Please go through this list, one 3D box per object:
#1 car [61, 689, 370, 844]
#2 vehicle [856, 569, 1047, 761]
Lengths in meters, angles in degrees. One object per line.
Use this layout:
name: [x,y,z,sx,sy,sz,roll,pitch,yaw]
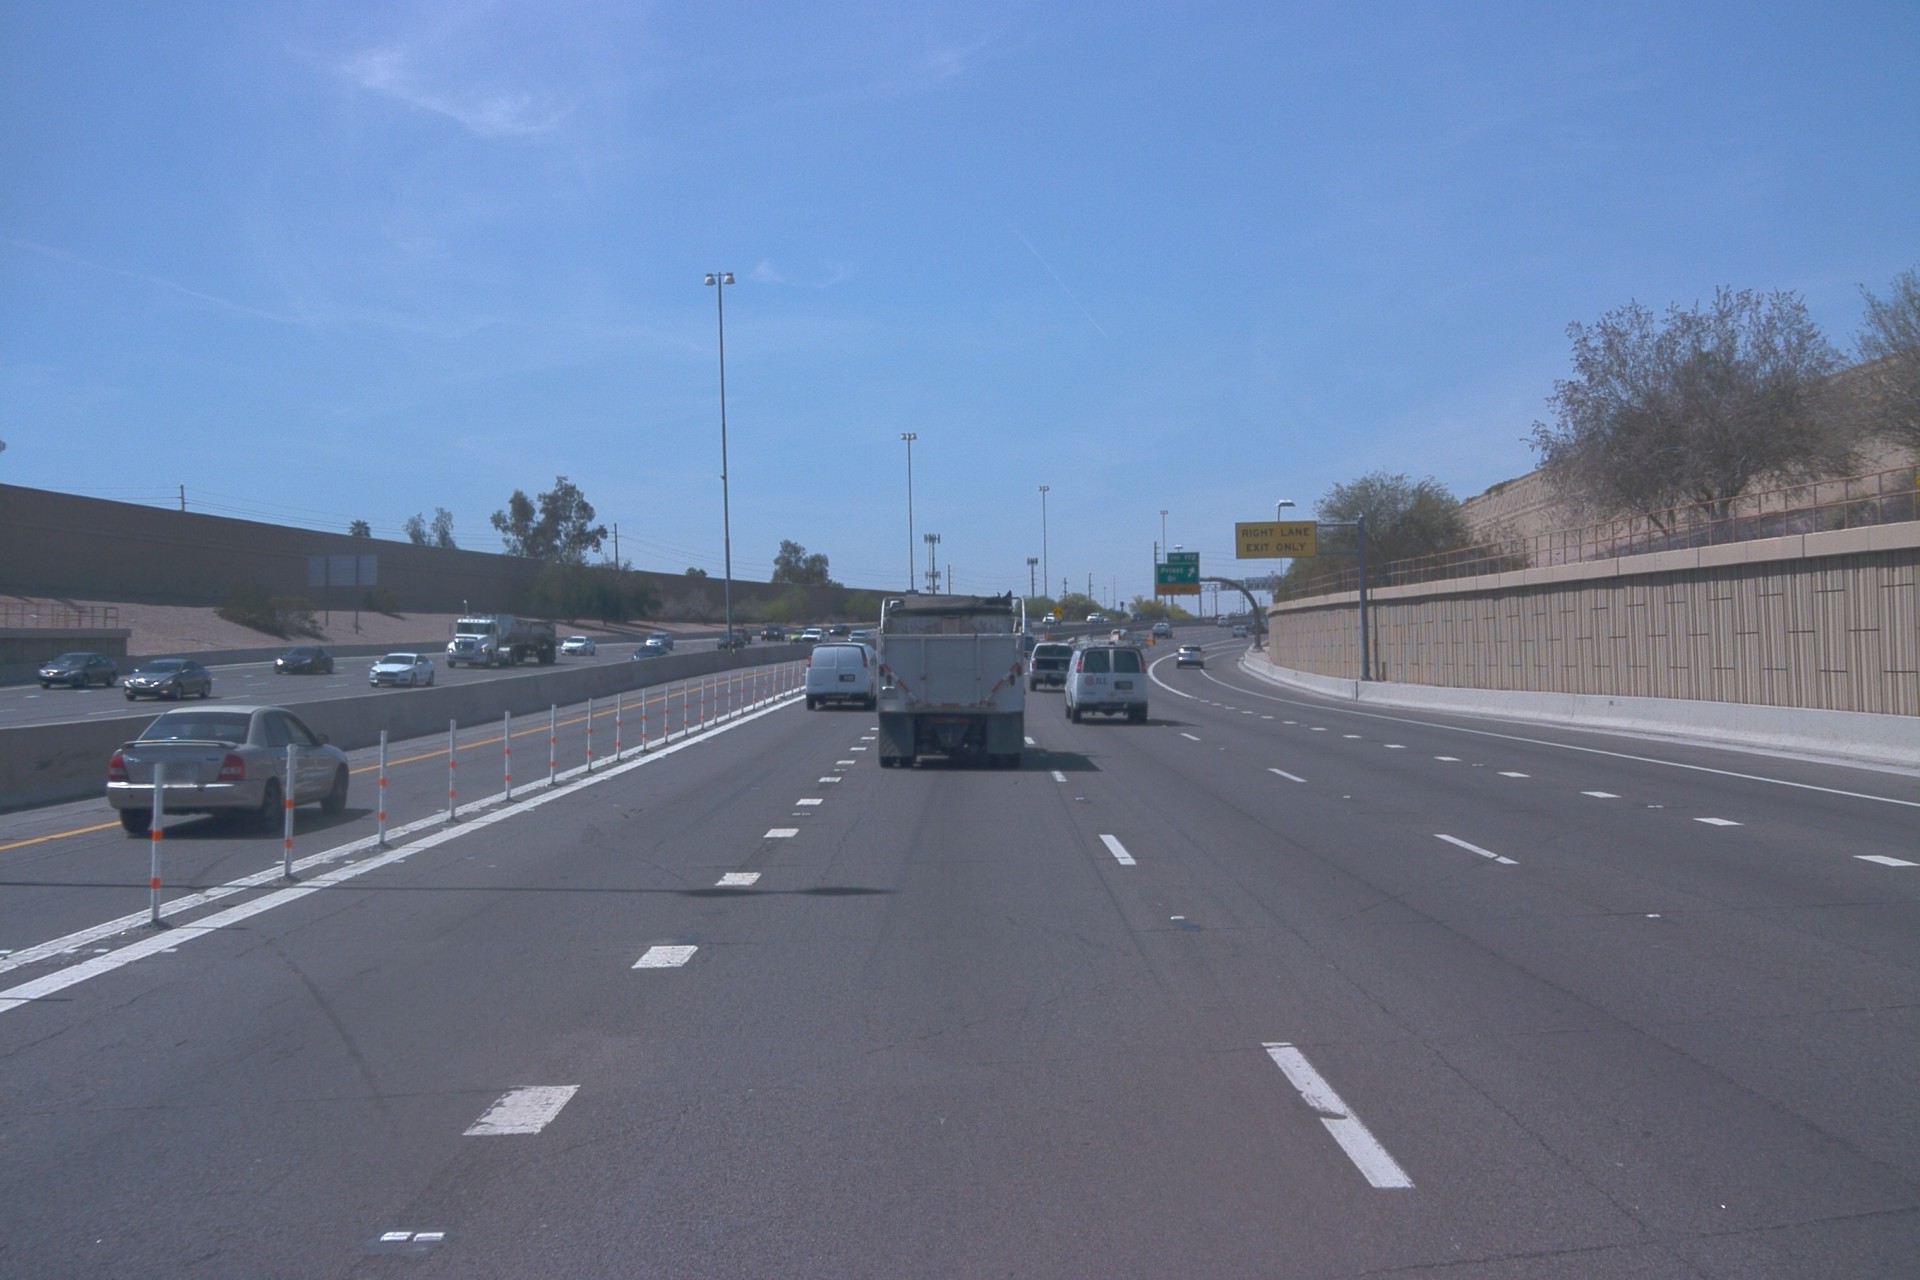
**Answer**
car: [-8.606,1.400,24.439,1.935,1.560,4.737,0,0,0]
vehicle: [-0.118,0.432,37.567,3.162,3.170,6.477,0,0,1]
